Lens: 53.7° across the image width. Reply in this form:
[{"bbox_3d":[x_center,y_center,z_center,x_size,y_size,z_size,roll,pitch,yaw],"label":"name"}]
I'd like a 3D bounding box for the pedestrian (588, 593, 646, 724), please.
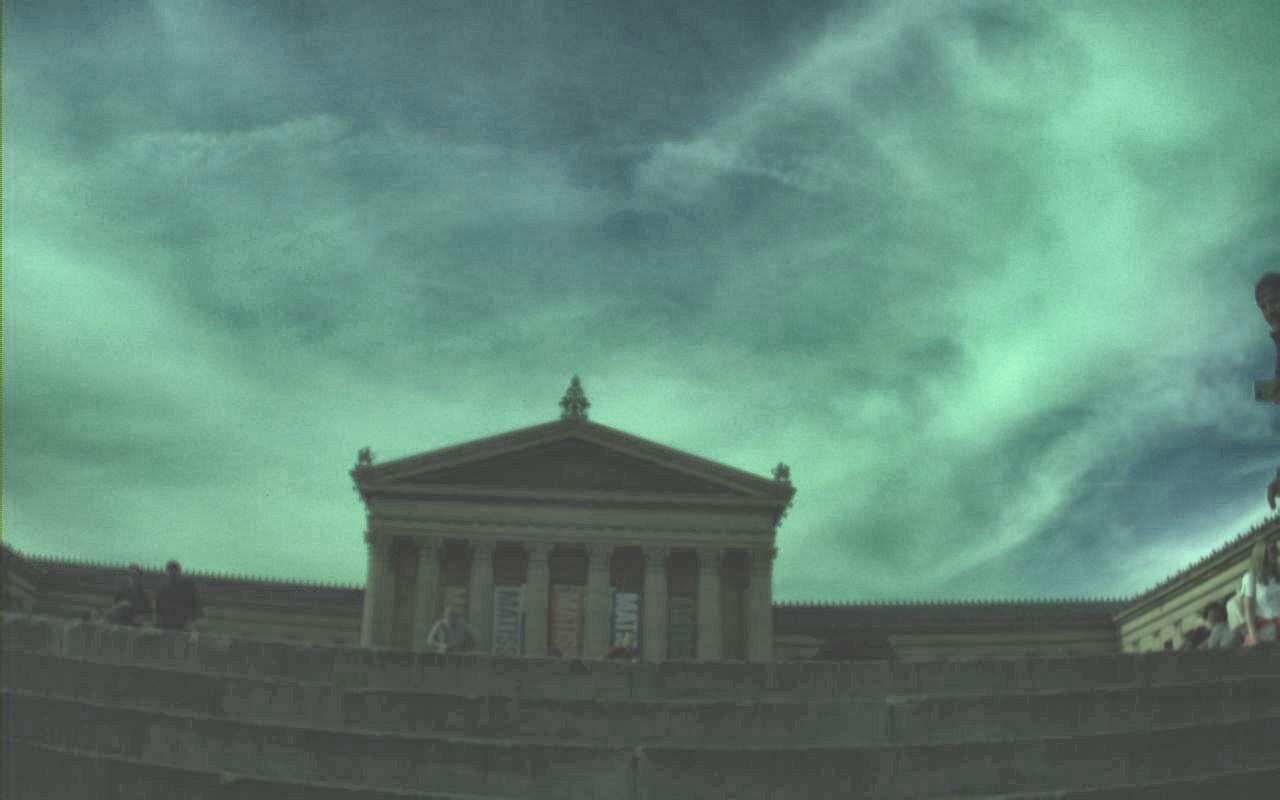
[{"bbox_3d":[-0.337,3.731,17.837,0.691,1.773,0.686,0,0,12],"label":"pedestrian"}]

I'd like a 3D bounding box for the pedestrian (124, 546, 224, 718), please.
[{"bbox_3d":[-5.278,2.634,13.125,0.791,1.792,0.776,0,0,10],"label":"pedestrian"}]

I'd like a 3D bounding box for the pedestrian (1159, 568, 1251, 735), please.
[{"bbox_3d":[6.416,2.891,12.839,0.701,1.788,0.707,0,0,-4],"label":"pedestrian"}]

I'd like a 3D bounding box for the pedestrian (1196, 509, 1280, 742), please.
[{"bbox_3d":[5.057,1.838,8.984,0.792,1.757,0.786,0,0,2],"label":"pedestrian"}]

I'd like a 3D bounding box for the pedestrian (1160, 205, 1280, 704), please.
[{"bbox_3d":[2.574,0.216,4.422,0.849,1.818,0.825,0,0,10],"label":"pedestrian"}]

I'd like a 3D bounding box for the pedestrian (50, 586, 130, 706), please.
[{"bbox_3d":[-8.884,4.003,18.120,0.851,1.725,0.923,1,0,23],"label":"pedestrian"}]

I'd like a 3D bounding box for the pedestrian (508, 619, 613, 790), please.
[{"bbox_3d":[-0.880,3.361,13.529,0.814,1.702,0.816,1,0,43],"label":"pedestrian"}]

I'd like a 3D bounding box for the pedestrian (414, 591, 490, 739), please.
[{"bbox_3d":[-2.500,3.547,16.342,0.875,1.844,0.890,0,0,-1],"label":"pedestrian"}]

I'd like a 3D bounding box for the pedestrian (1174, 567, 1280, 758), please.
[{"bbox_3d":[5.528,2.487,10.487,0.780,1.669,0.800,0,0,10],"label":"pedestrian"}]
